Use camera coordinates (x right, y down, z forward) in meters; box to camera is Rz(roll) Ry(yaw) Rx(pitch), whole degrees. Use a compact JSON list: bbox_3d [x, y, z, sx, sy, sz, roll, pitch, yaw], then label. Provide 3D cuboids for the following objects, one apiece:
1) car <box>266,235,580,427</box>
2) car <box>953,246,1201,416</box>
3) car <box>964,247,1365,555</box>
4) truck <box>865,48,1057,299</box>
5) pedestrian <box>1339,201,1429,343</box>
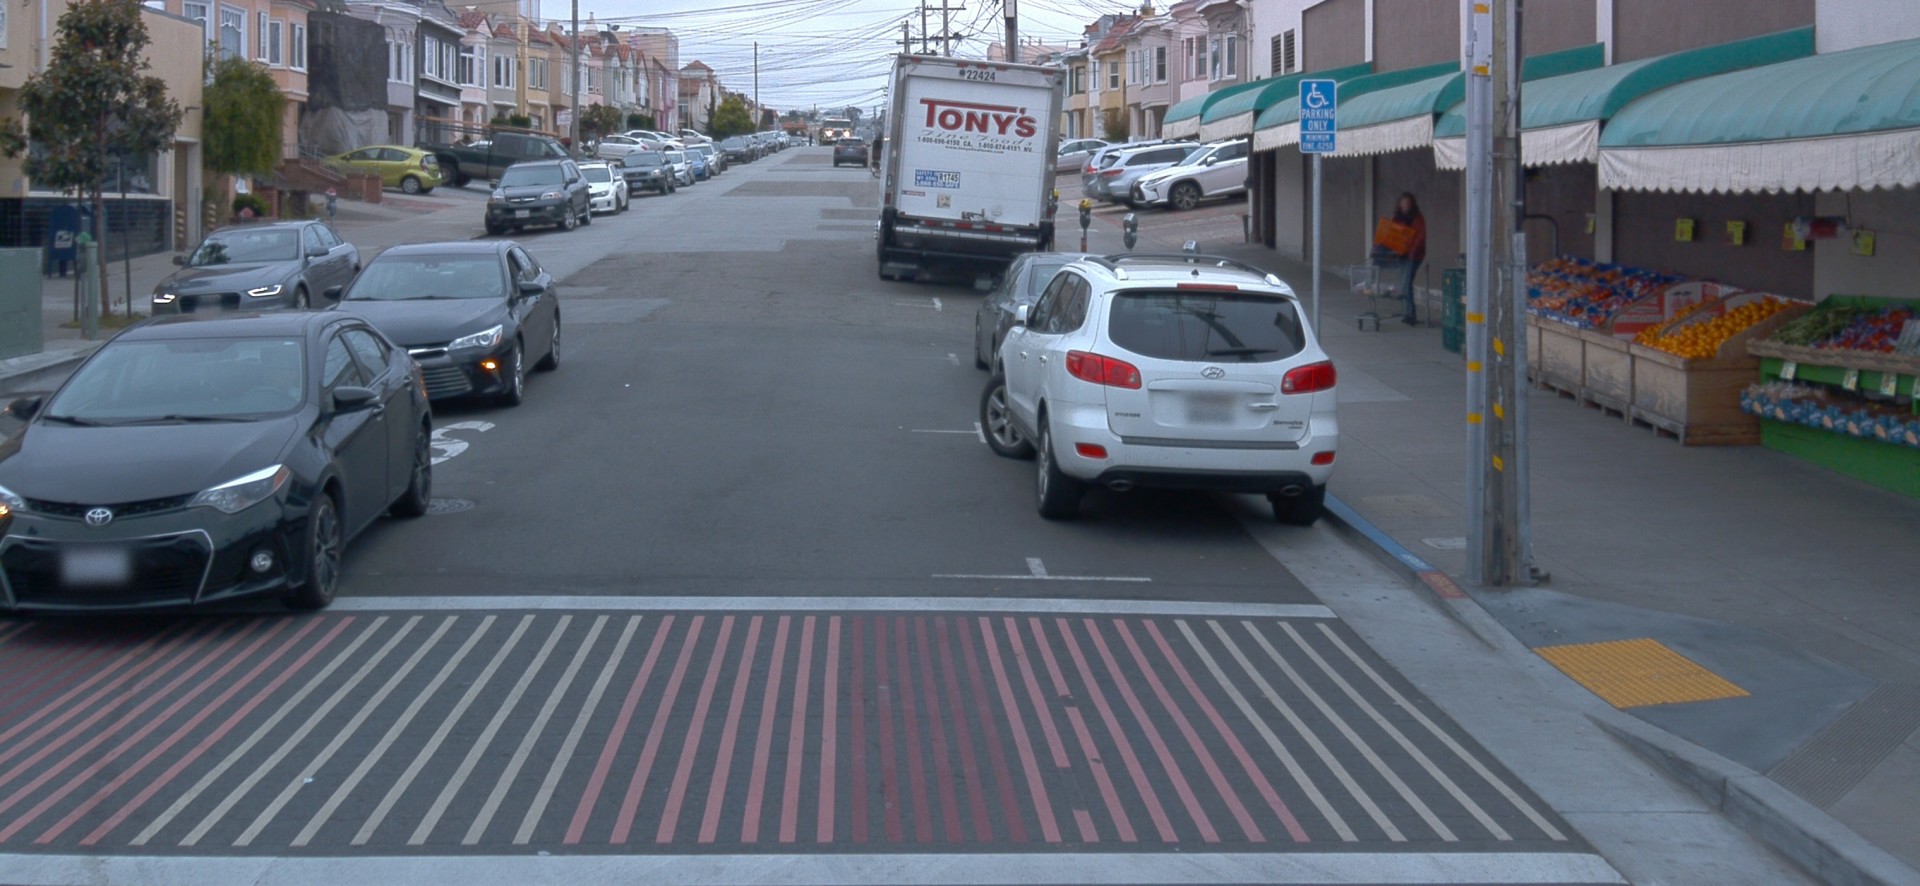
[{"bbox_3d":[-5.116,-1.225,20.338,2.069,1.636,4.923,0,6,-3],"label":"car"},{"bbox_3d":[1.070,-1.253,21.254,1.969,1.513,4.609,0,6,-4],"label":"car"},{"bbox_3d":[1.279,-0.480,14.990,2.105,1.832,4.565,0,5,-5],"label":"car"},{"bbox_3d":[-0.210,-4.614,36.193,2.914,3.770,10.115,0,5,-3],"label":"truck"},{"bbox_3d":[5.324,-2.160,25.842,0.889,1.737,0.722,-2,3,-43],"label":"pedestrian"}]
